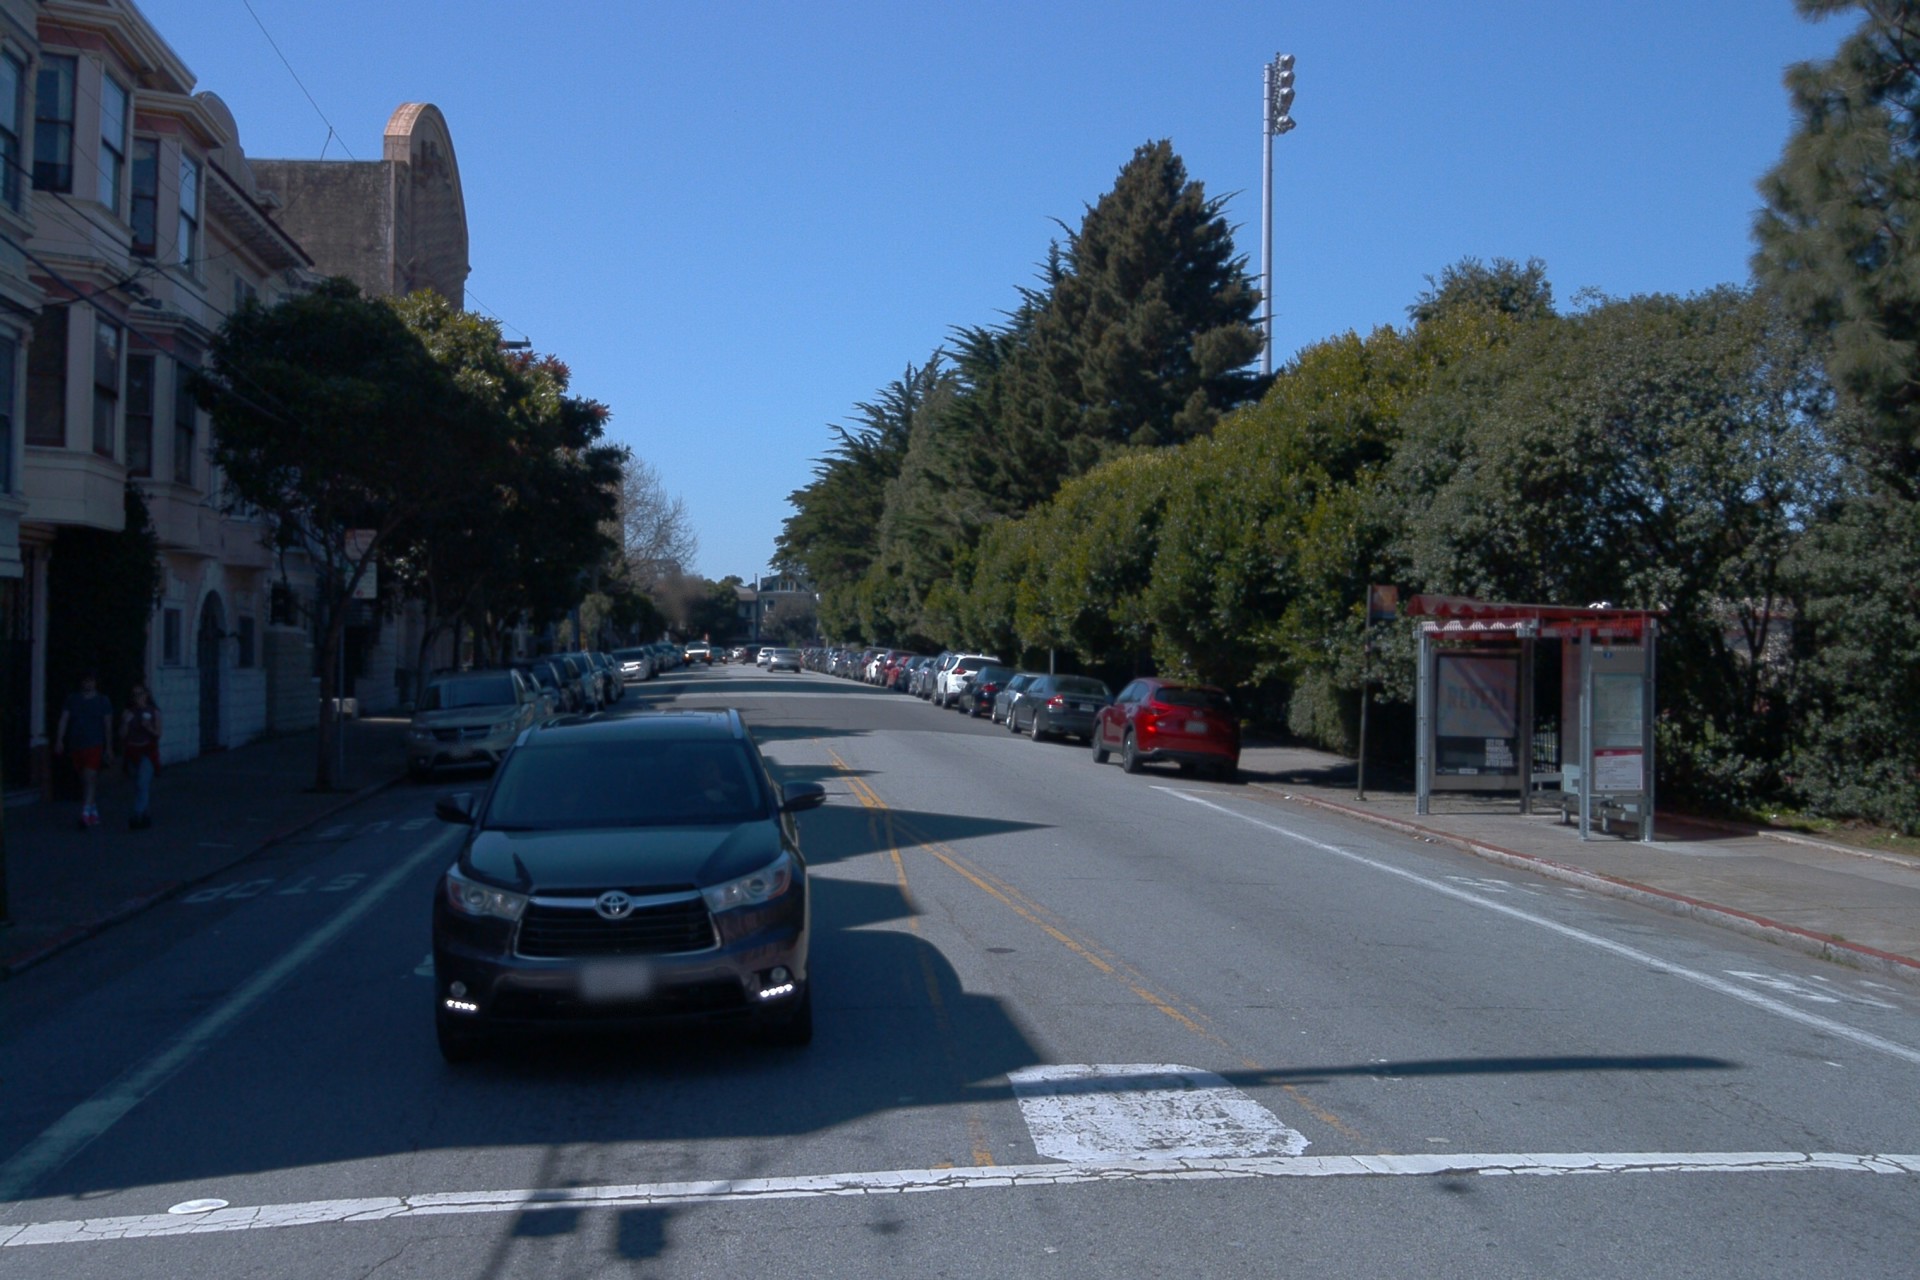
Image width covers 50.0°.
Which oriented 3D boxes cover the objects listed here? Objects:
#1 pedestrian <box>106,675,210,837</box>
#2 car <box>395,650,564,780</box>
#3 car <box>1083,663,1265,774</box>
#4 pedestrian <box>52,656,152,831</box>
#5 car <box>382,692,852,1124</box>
[{"bbox_3d":[-9.159,1.305,23.520,0.863,1.780,0.990,0,1,-5],"label":"pedestrian"},{"bbox_3d":[-7.813,1.157,33.923,2.224,1.880,5.012,0,1,-7],"label":"car"},{"bbox_3d":[3.681,1.323,36.266,2.213,1.700,4.646,0,1,-7],"label":"car"},{"bbox_3d":[-9.789,1.164,23.492,0.805,1.930,0.883,0,1,-4],"label":"pedestrian"},{"bbox_3d":[-1.838,1.309,12.058,2.175,1.800,4.862,0,1,-6],"label":"car"}]
